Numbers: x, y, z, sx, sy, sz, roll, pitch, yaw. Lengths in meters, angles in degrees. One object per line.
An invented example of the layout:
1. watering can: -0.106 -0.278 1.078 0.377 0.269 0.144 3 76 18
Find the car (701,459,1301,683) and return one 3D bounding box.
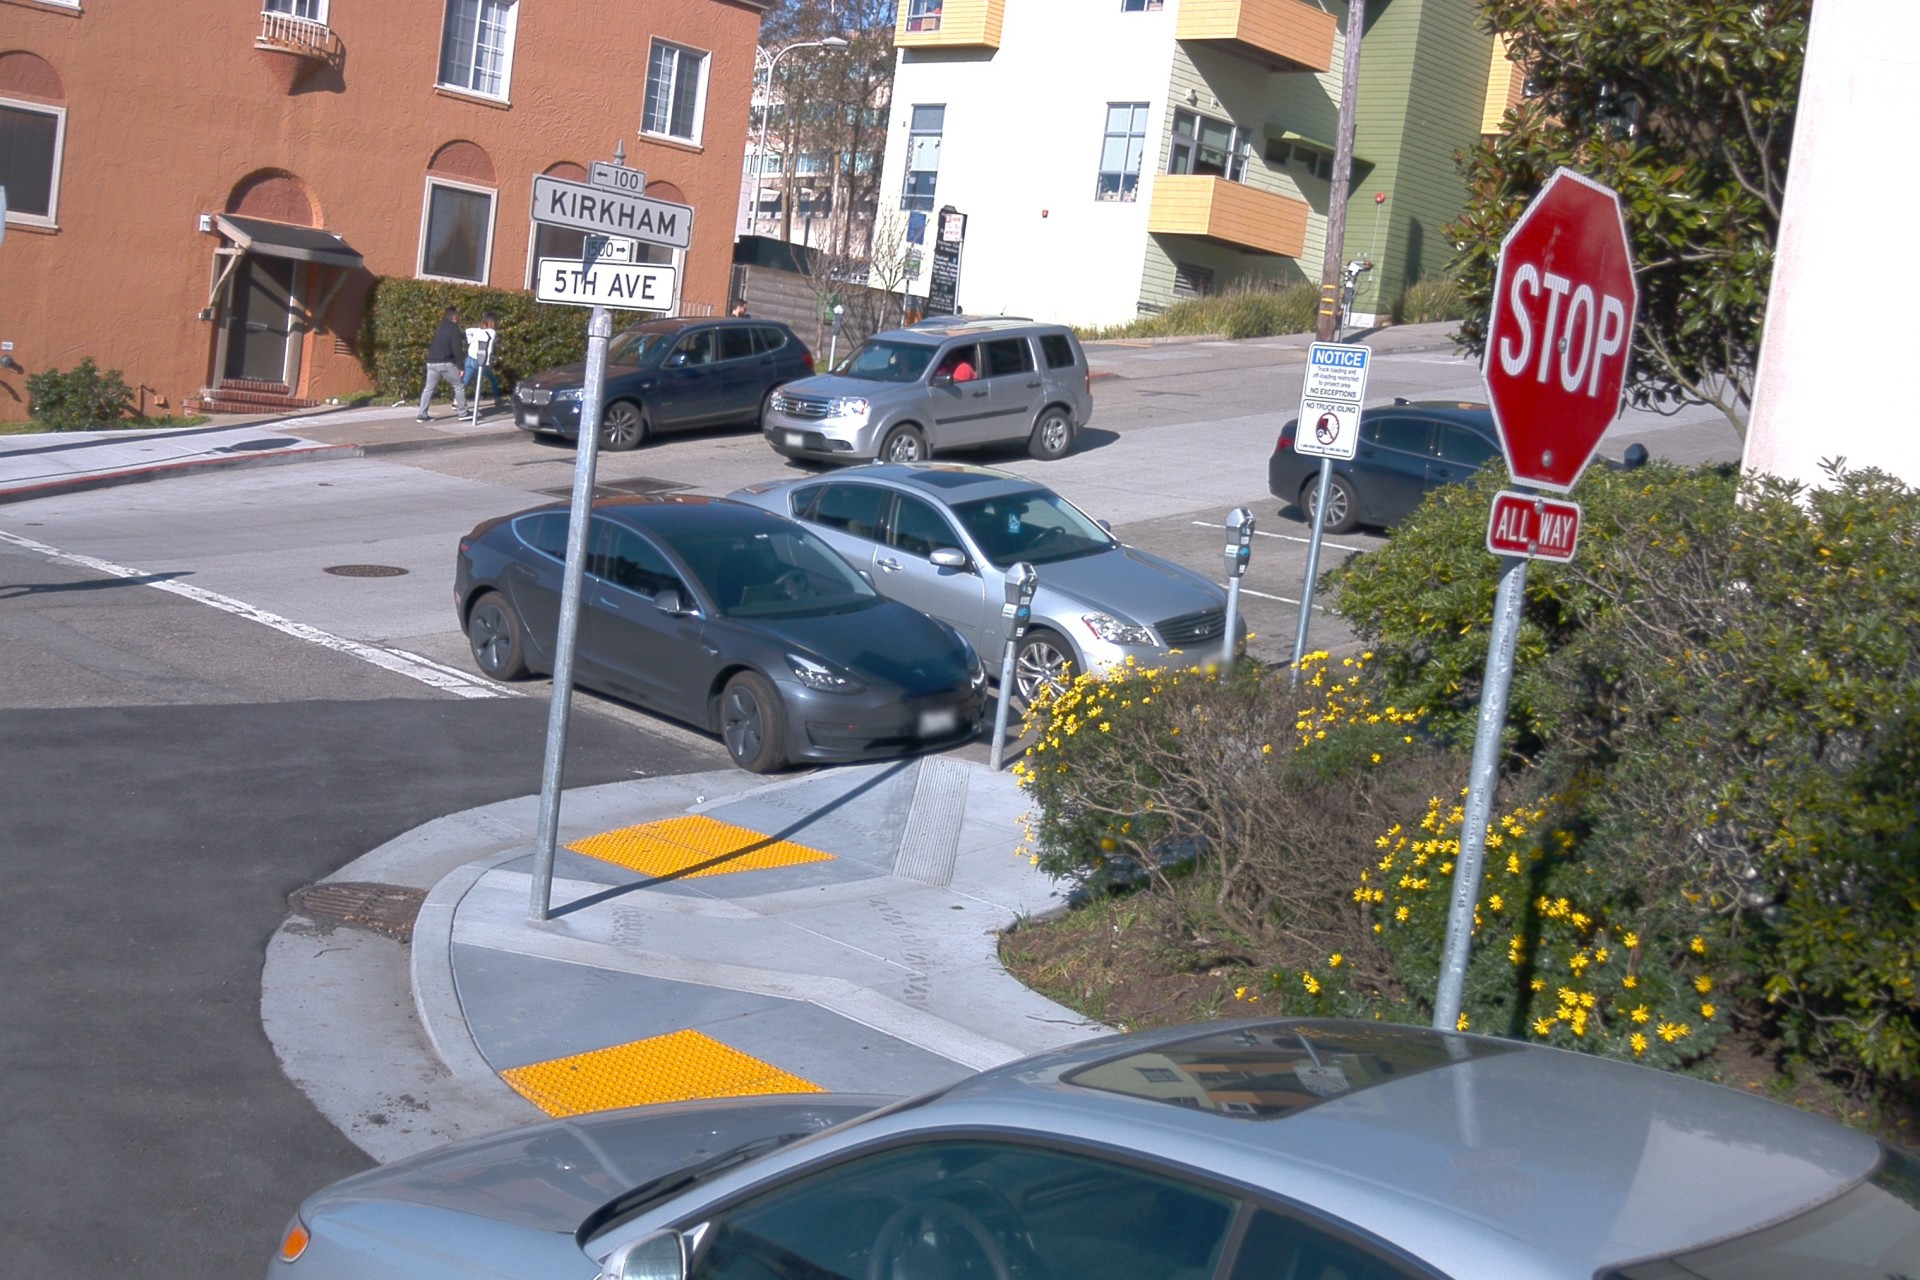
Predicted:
1. car: 0.223 -0.480 16.844 4.561 1.560 2.064 0 0 42

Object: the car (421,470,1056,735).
1. car: -1.733 -0.227 15.146 4.636 1.620 2.044 0 0 44
